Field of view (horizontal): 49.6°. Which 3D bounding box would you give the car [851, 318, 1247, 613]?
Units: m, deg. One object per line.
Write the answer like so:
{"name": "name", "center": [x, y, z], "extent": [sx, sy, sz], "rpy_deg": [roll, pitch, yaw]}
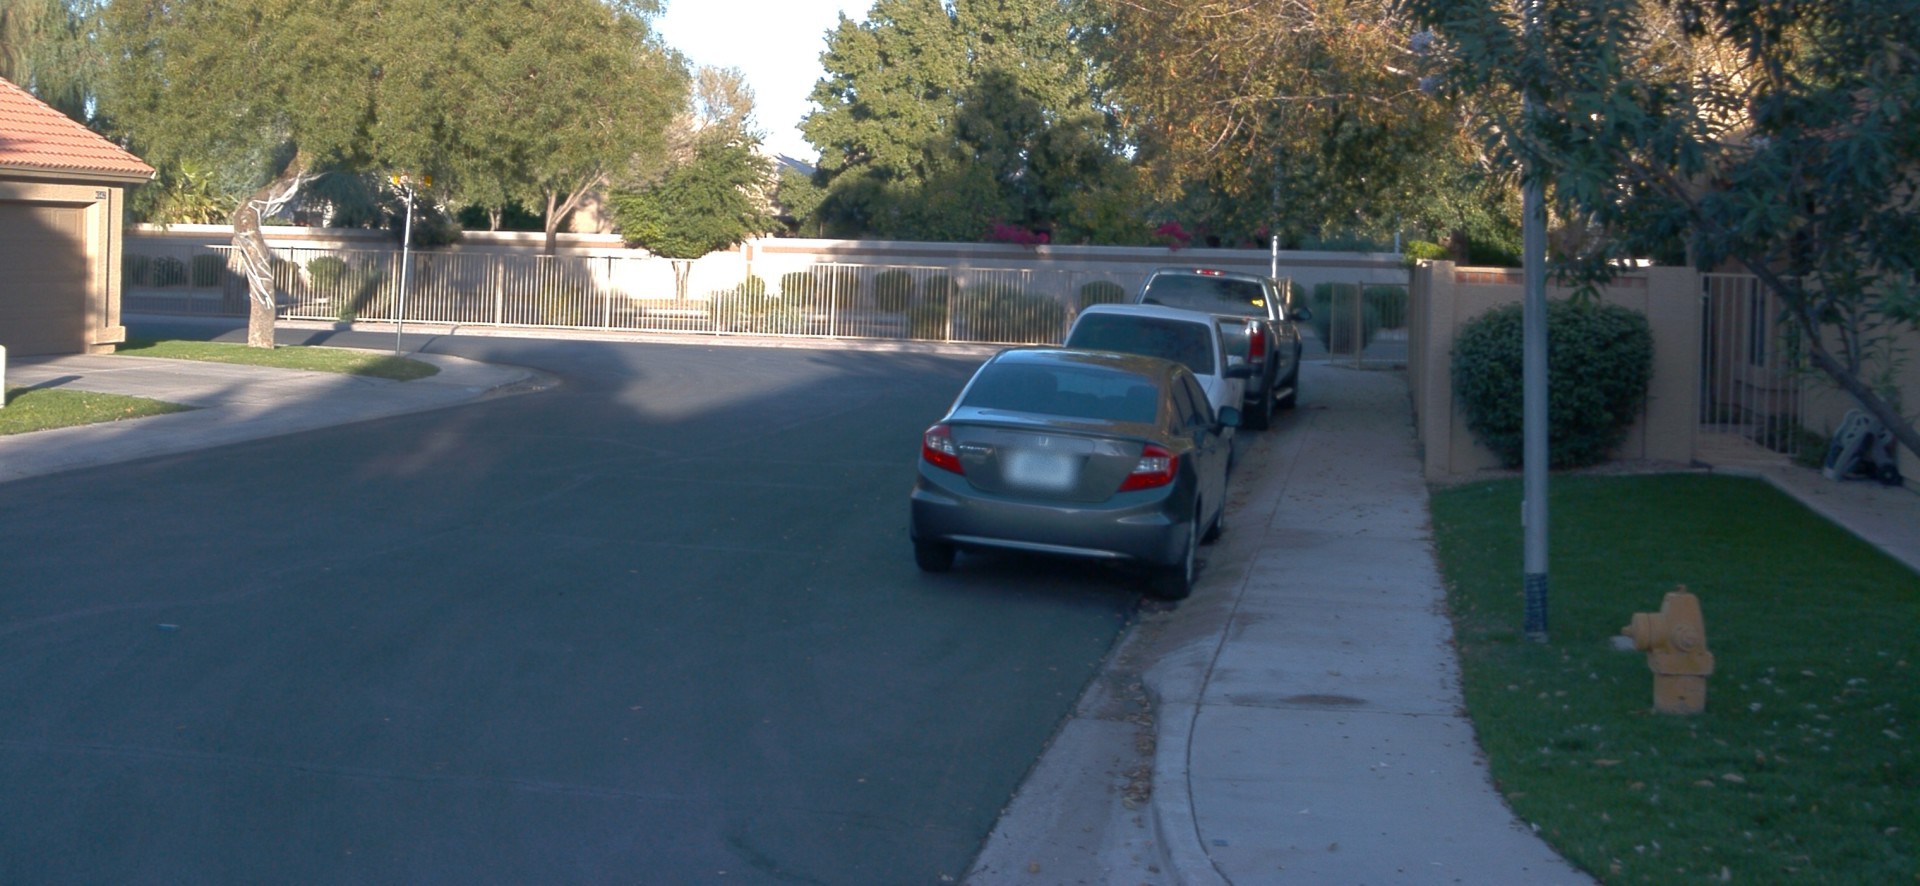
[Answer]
{"name": "car", "center": [0.795, -0.015, 14.065], "extent": [2.058, 1.464, 4.474], "rpy_deg": [1, 5, 10]}

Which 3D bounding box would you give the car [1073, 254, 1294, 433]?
{"name": "car", "center": [2.985, -1.395, 26.547], "extent": [2.172, 1.983, 5.486], "rpy_deg": [1, 5, 13]}

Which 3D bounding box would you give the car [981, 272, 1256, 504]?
{"name": "car", "center": [1.619, -0.651, 19.341], "extent": [2.025, 1.794, 4.715], "rpy_deg": [1, 5, 11]}
